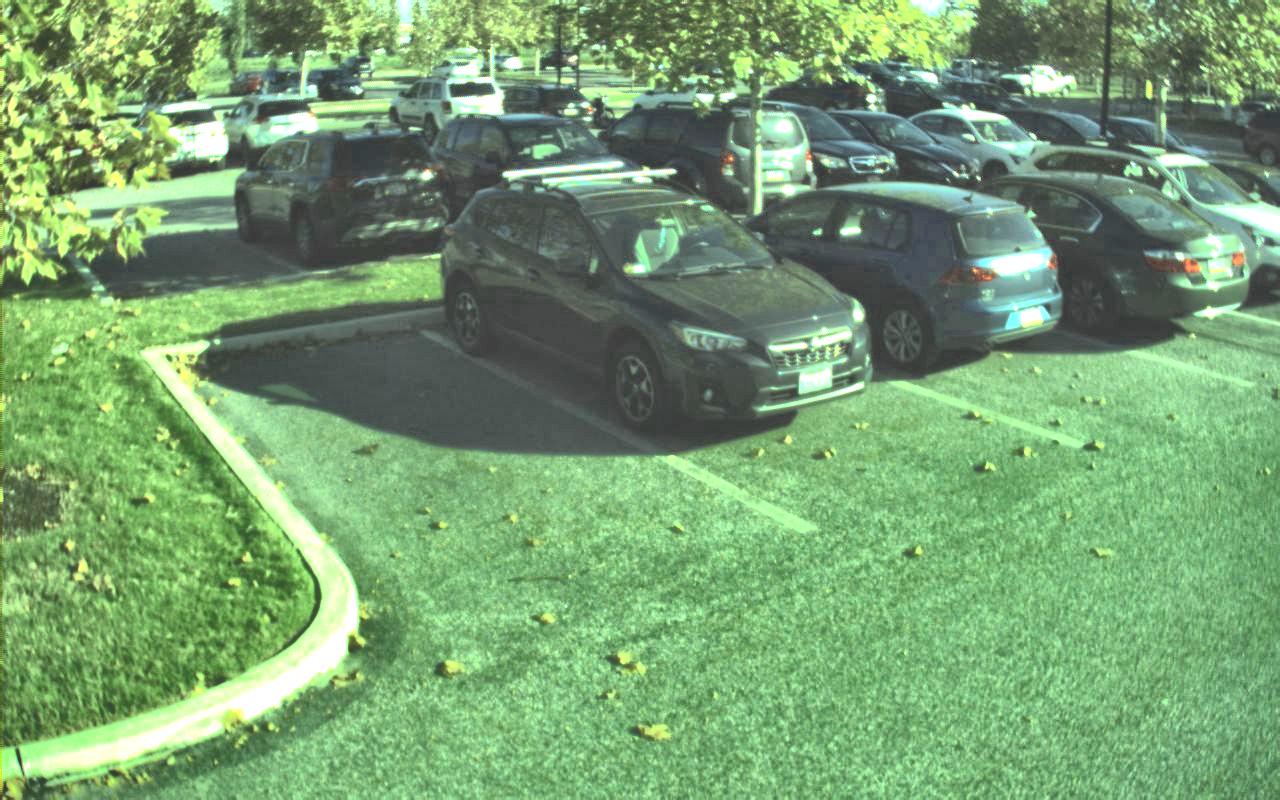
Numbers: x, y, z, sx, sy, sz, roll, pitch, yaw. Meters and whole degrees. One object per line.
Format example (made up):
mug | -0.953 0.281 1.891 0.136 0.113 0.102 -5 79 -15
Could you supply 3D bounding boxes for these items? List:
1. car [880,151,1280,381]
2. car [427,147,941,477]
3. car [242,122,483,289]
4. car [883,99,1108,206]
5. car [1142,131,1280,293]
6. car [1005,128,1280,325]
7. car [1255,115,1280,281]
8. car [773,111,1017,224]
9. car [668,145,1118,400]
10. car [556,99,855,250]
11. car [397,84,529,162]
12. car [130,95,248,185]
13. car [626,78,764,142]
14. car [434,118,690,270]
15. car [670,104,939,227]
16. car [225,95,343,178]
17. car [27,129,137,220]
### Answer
car | 4.713 -1.615 12.854 1.945 1.564 4.523 -10 19 -27
car | 0.119 -1.004 10.324 1.961 1.685 4.494 -12 20 -32
car | -4.078 -2.872 17.154 2.013 1.683 4.658 -11 19 -30
car | 7.050 -5.036 24.251 1.983 1.631 4.582 -10 19 -28
car | 9.337 -2.754 15.823 1.935 1.558 4.397 -10 19 -28
car | 6.934 -2.353 14.842 1.998 1.720 4.598 -10 19 -29
car | 12.047 -3.227 16.634 2.043 1.851 4.708 -12 20 -32
car | 4.647 -4.379 22.756 1.954 1.569 4.401 -13 20 -34
car | 2.285 -1.409 11.819 1.889 1.593 4.188 -12 20 -34
car | 0.877 -3.578 19.101 2.025 1.763 4.688 -13 20 -36
car | -4.870 -7.524 33.276 2.054 1.752 4.711 -10 19 -27
car | -11.281 -6.460 28.951 2.055 1.822 4.671 -11 19 -31
car | 1.592 -8.835 37.677 1.996 1.649 4.605 -10 19 -29
car | -1.267 -3.098 17.980 1.949 1.589 4.386 -10 19 -28
car | 2.734 -4.102 21.199 1.964 1.600 4.473 -14 21 -38
car | -9.169 -6.739 30.508 1.998 1.706 4.550 -10 19 -28
car | -13.607 -5.452 27.410 1.987 1.680 4.528 -13 20 -34
